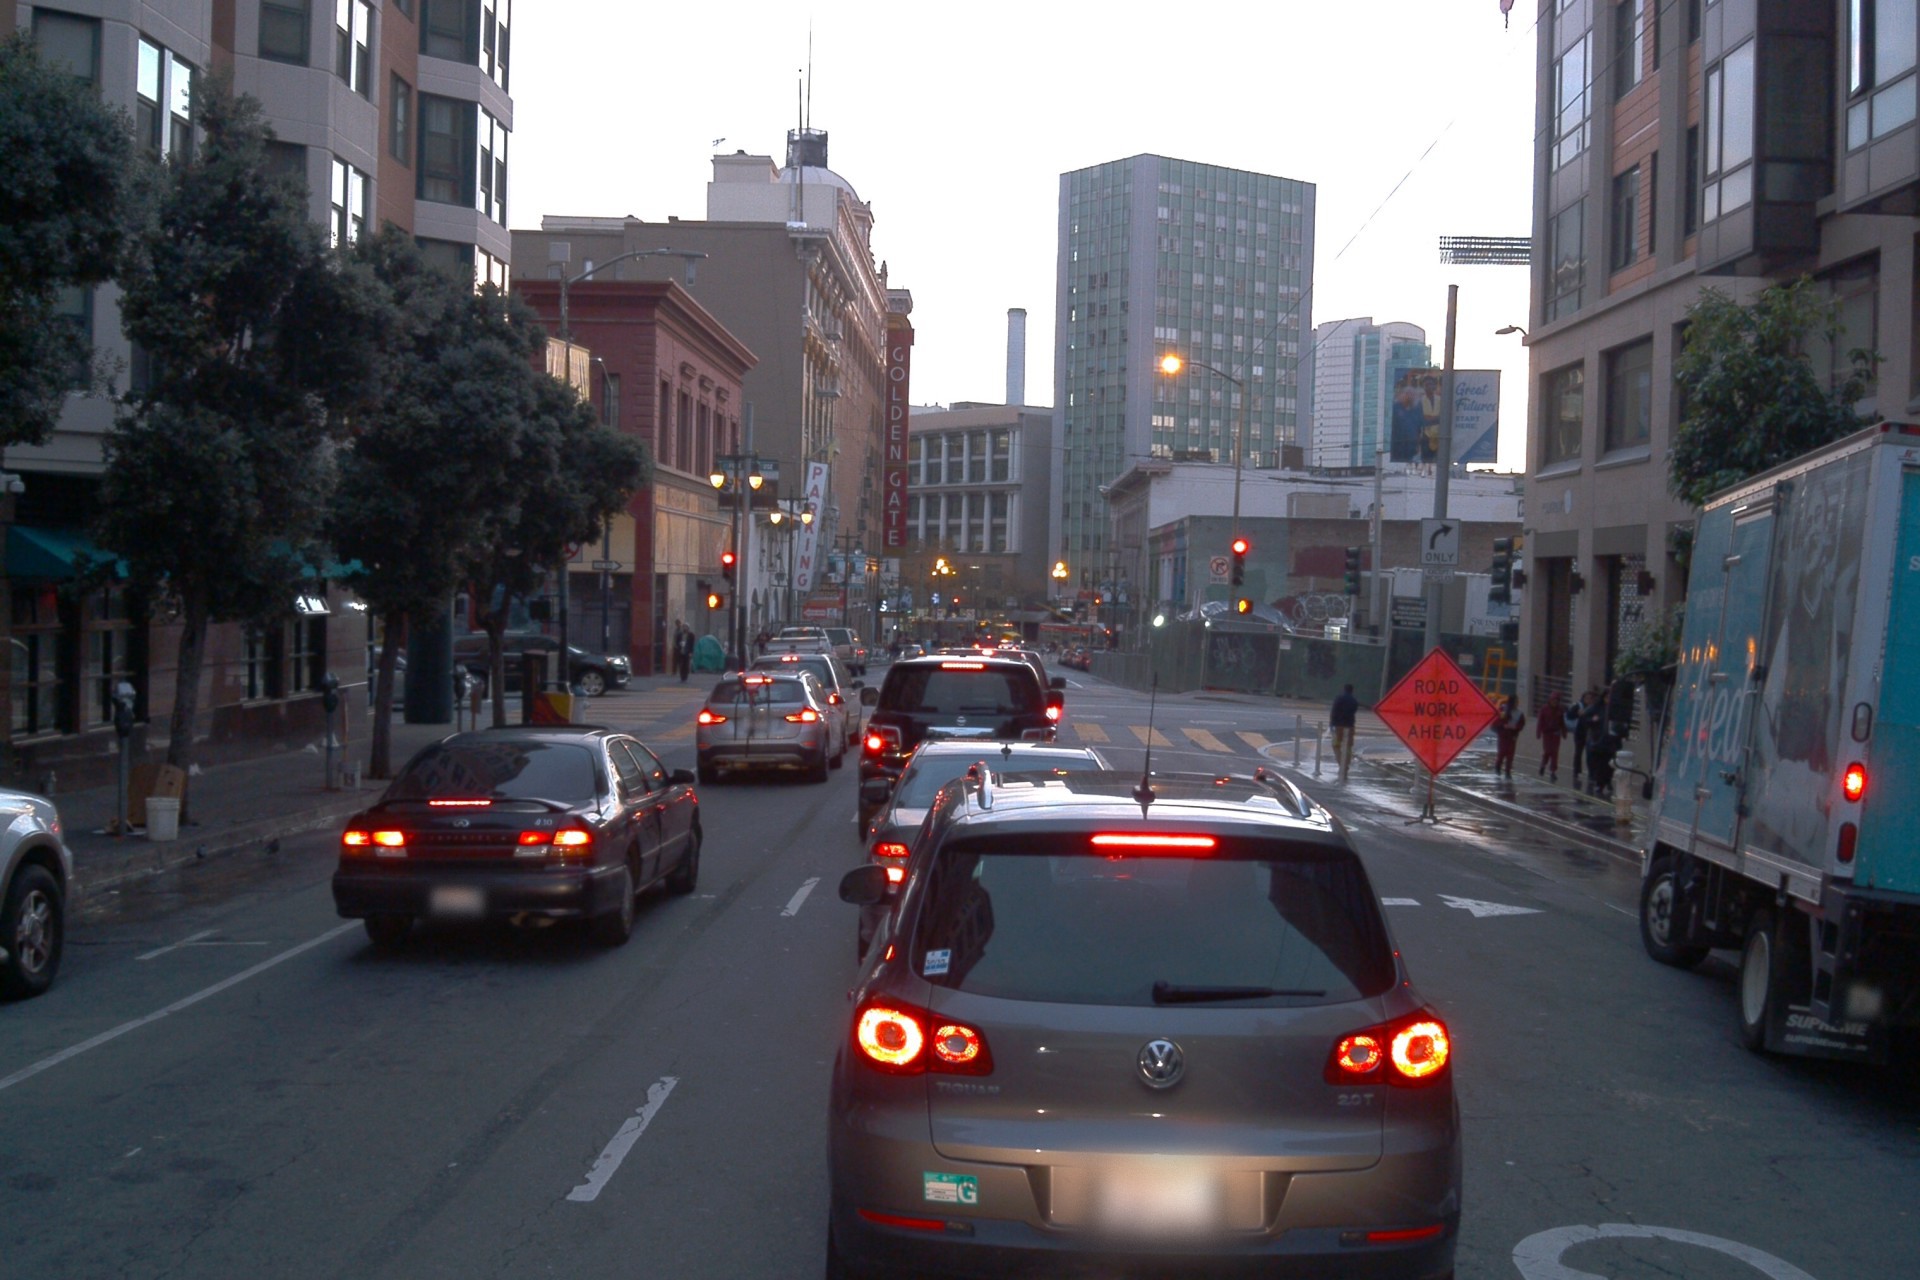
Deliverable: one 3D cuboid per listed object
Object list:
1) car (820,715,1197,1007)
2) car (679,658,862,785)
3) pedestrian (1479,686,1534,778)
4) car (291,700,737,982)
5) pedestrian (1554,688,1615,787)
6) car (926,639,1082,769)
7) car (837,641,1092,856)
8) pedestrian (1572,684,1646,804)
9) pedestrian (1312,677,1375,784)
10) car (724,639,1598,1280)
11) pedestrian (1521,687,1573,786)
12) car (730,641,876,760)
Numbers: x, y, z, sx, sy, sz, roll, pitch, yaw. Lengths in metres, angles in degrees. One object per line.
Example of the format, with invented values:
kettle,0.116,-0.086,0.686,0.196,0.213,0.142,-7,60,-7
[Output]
car,0.290,1.321,13.592,2.089,1.400,4.279,1,1,1
car,-2.616,1.104,29.112,2.110,1.572,4.118,1,1,1
pedestrian,9.229,1.544,34.379,0.668,1.490,0.838,1,1,0
car,-2.997,1.298,14.857,2.036,1.500,4.826,1,0,2
pedestrian,10.581,1.642,34.523,0.721,1.610,0.846,1,1,0
car,0.619,0.850,29.391,2.036,1.650,4.678,1,1,1
car,0.034,1.025,21.904,2.368,1.940,5.339,1,1,0
pedestrian,9.887,1.572,31.054,0.879,1.760,0.904,1,1,7
pedestrian,6.646,1.561,35.347,0.776,1.790,0.924,1,1,-8
car,0.546,1.059,7.024,2.109,2.050,3.981,1,1,2
pedestrian,9.914,1.620,34.398,0.622,1.610,0.758,1,1,0
car,-2.661,0.990,35.547,1.896,1.880,4.462,1,1,4
